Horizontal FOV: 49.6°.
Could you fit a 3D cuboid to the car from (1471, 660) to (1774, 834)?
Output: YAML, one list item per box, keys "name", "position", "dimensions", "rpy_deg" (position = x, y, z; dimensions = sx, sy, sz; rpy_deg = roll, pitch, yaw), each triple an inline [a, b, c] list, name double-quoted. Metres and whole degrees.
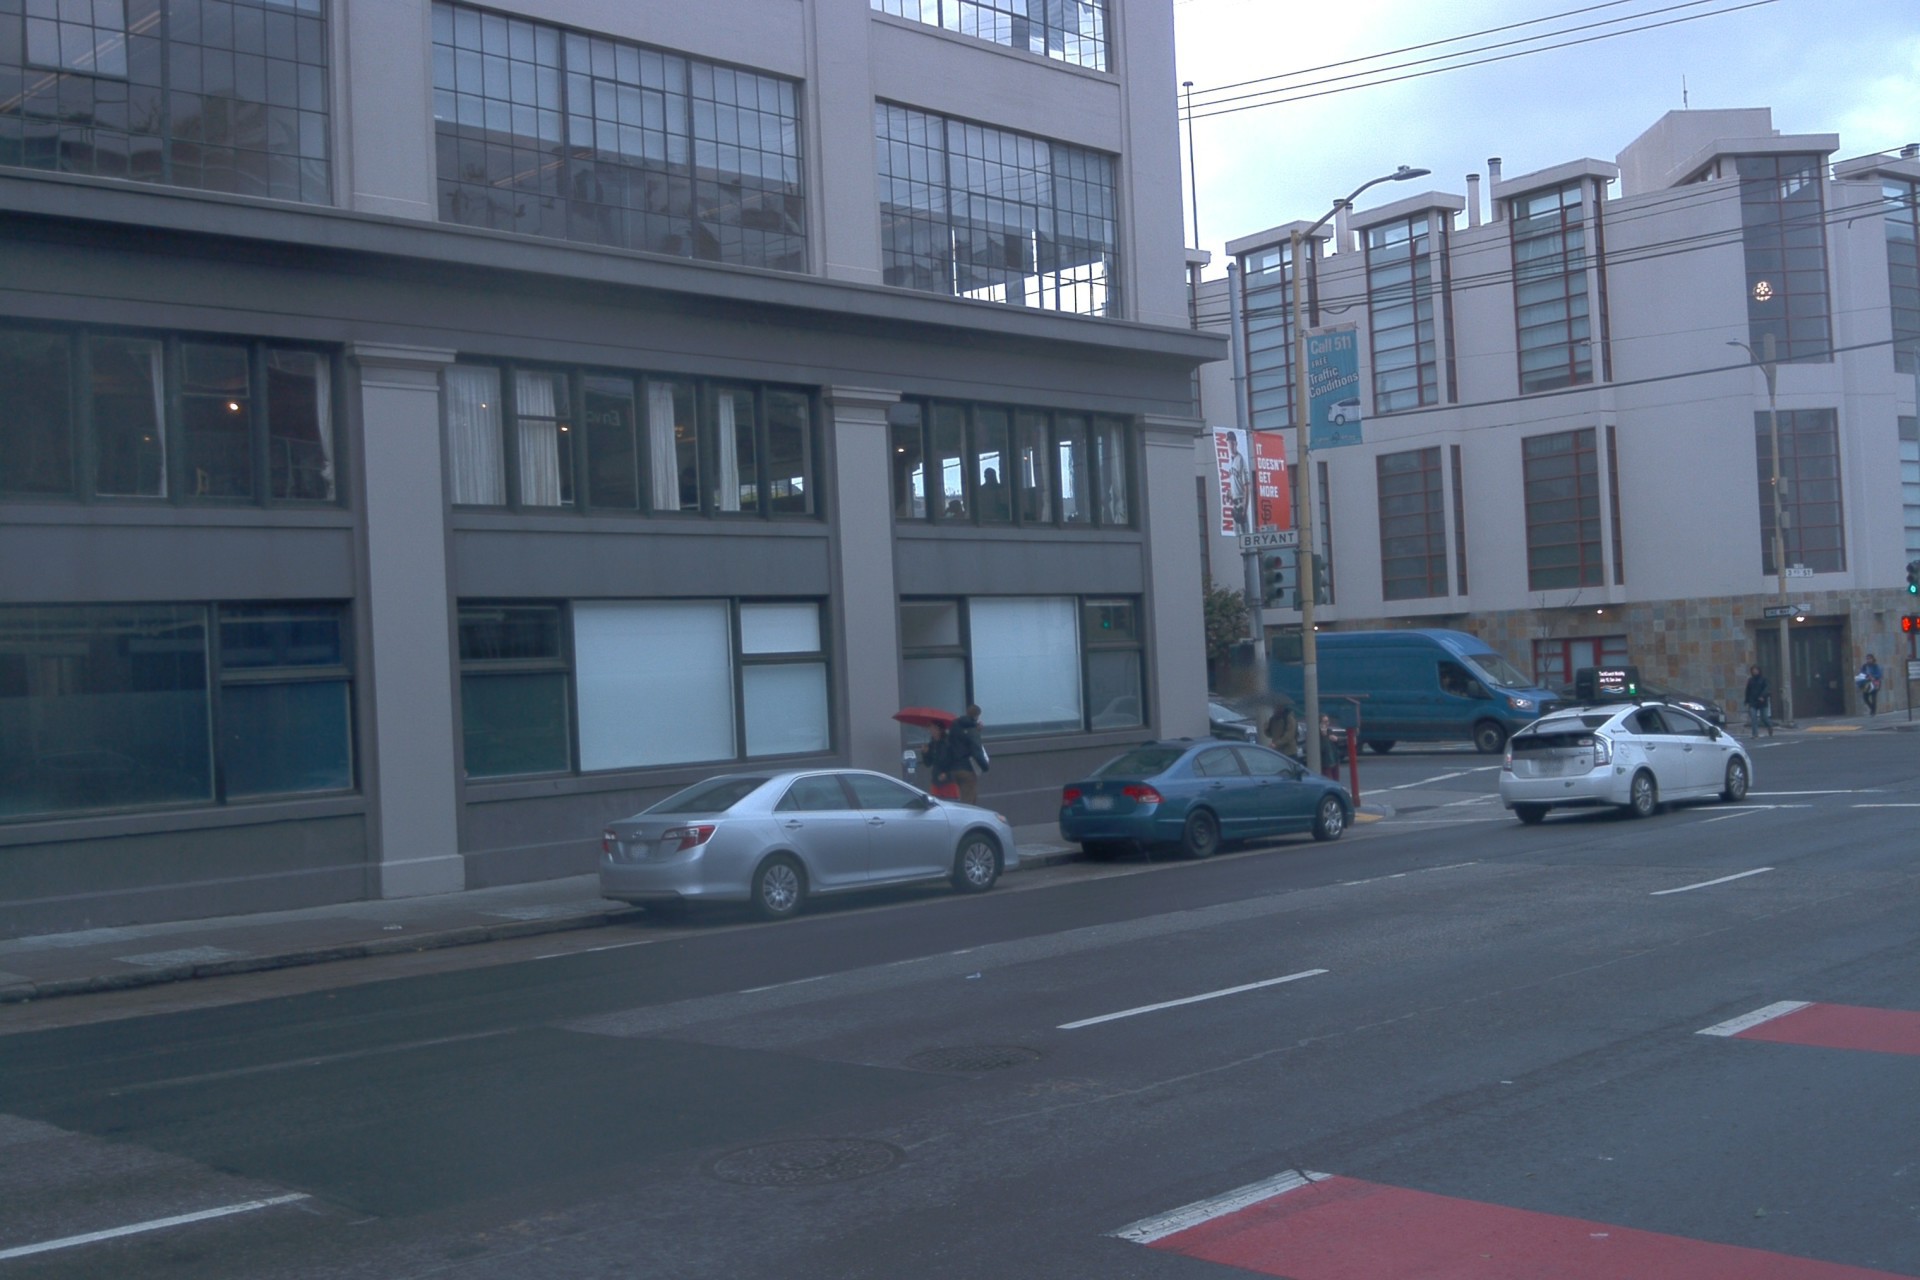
- name: "car"
  position: [8.940, 1.330, 27.857]
  dimensions: [2.037, 2.090, 4.605]
  rpy_deg: [0, 0, 44]

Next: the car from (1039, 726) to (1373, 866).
- name: "car"
  position: [3.188, 1.902, 26.349]
  dimensions: [1.913, 1.440, 4.430]
  rpy_deg: [0, 0, 44]

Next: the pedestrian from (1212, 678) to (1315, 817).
- name: "pedestrian"
  position: [4.792, 1.666, 32.825]
  dimensions: [1.132, 2.110, 1.190]
  rpy_deg: [0, 0, 44]

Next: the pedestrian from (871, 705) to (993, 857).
- name: "pedestrian"
  position: [-0.366, 1.829, 27.432]
  dimensions: [1.124, 1.900, 1.157]
  rpy_deg: [0, 0, 44]

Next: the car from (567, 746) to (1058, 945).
- name: "car"
  position: [-1.397, 2.011, 21.505]
  dimensions: [2.014, 1.570, 4.989]
  rpy_deg: [0, 0, 44]

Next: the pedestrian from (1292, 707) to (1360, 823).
- name: "pedestrian"
  position: [5.456, 1.853, 30.983]
  dimensions: [0.825, 1.670, 0.591]
  rpy_deg: [0, 0, -35]

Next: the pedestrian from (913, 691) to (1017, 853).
- name: "pedestrian"
  position: [0.068, 1.657, 26.538]
  dimensions: [0.909, 1.990, 0.967]
  rpy_deg: [0, 0, 44]
